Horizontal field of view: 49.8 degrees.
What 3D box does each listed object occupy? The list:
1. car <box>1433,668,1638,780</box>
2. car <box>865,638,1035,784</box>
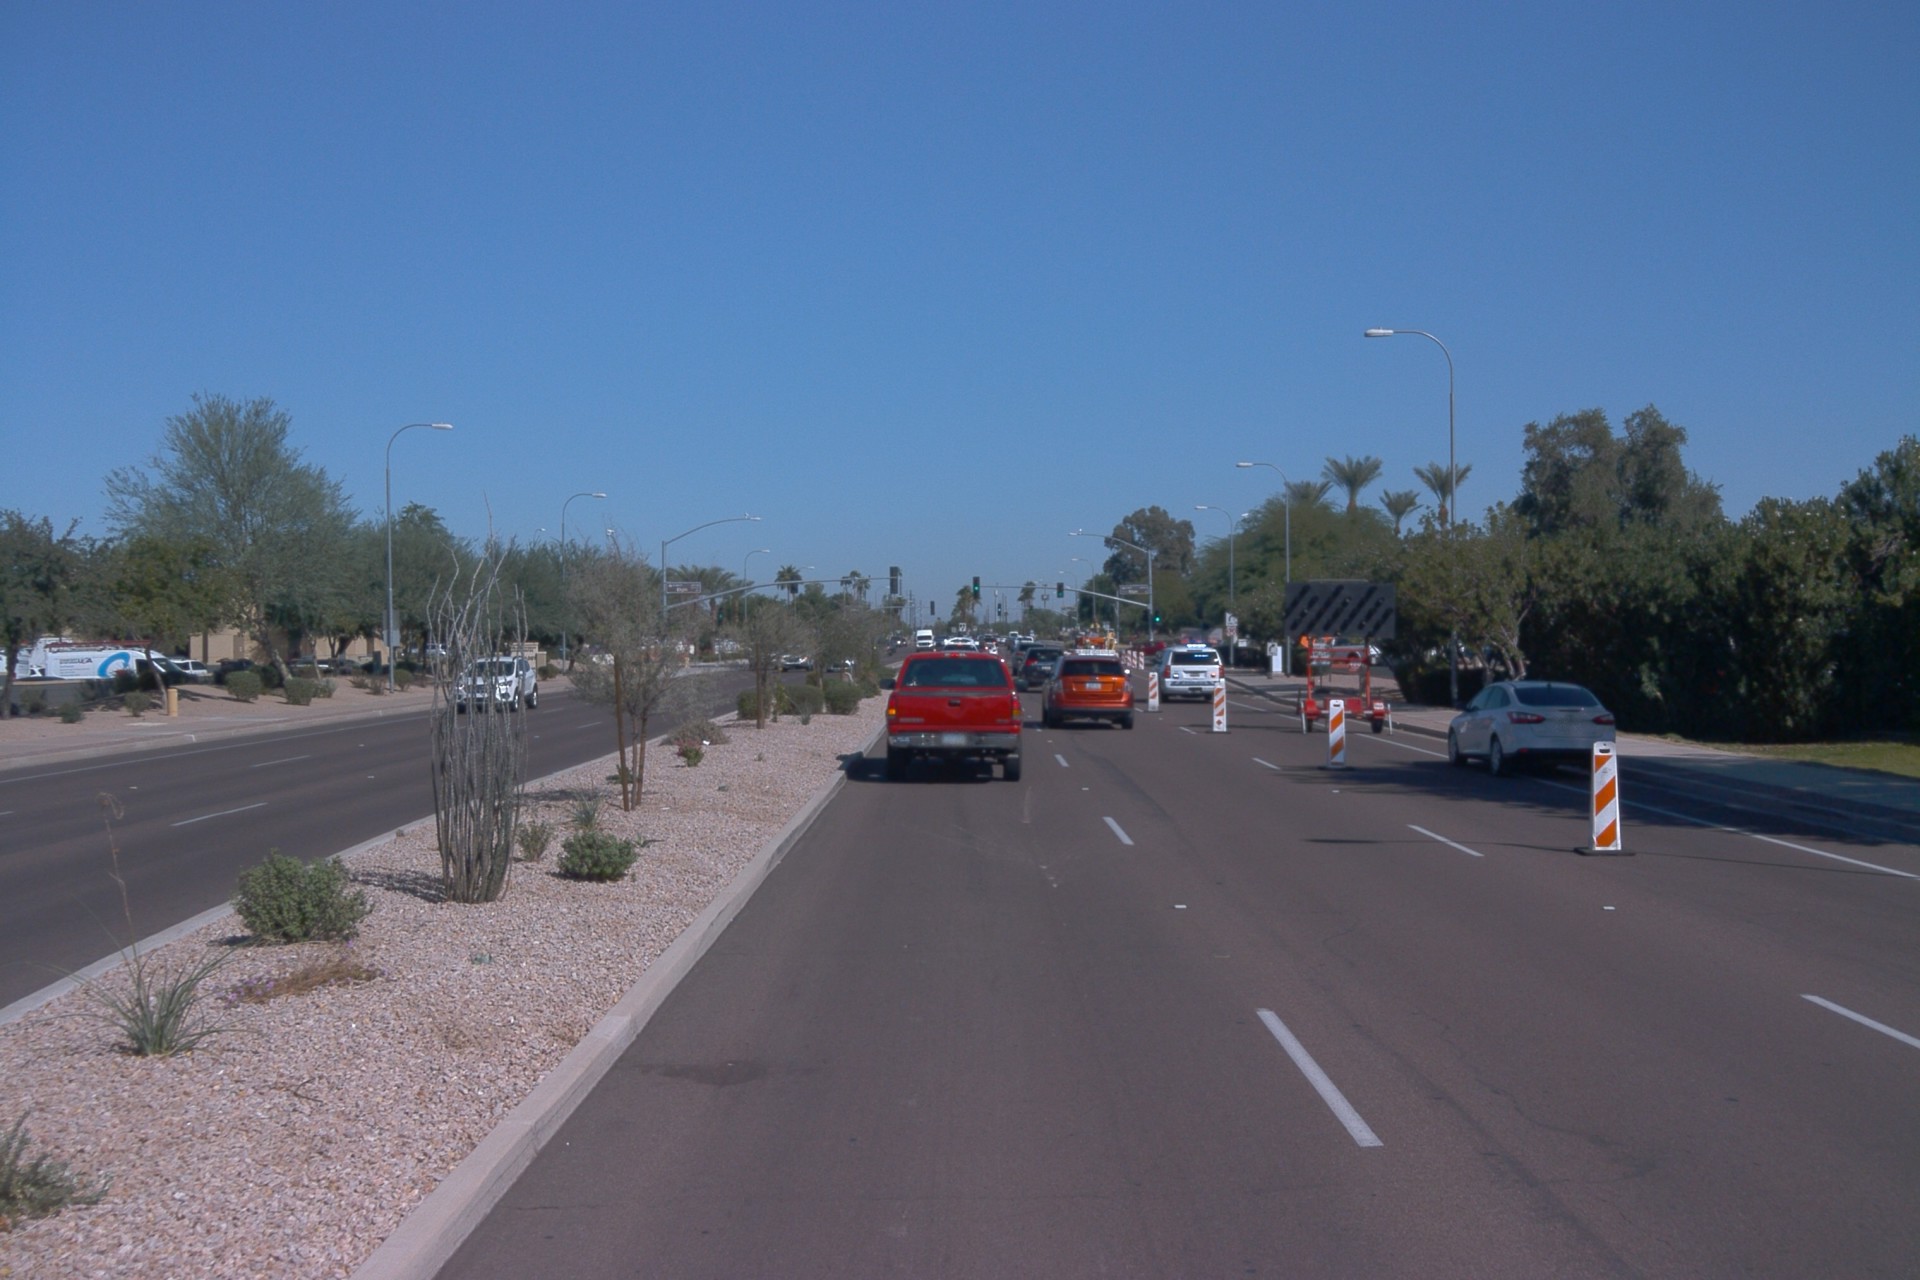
[{"bbox_3d":[9.046,1.282,32.933,2.026,1.600,4.492,0,0,0],"label":"car"},{"bbox_3d":[-0.123,0.994,31.562,2.340,2.010,5.847,0,0,0],"label":"car"}]
